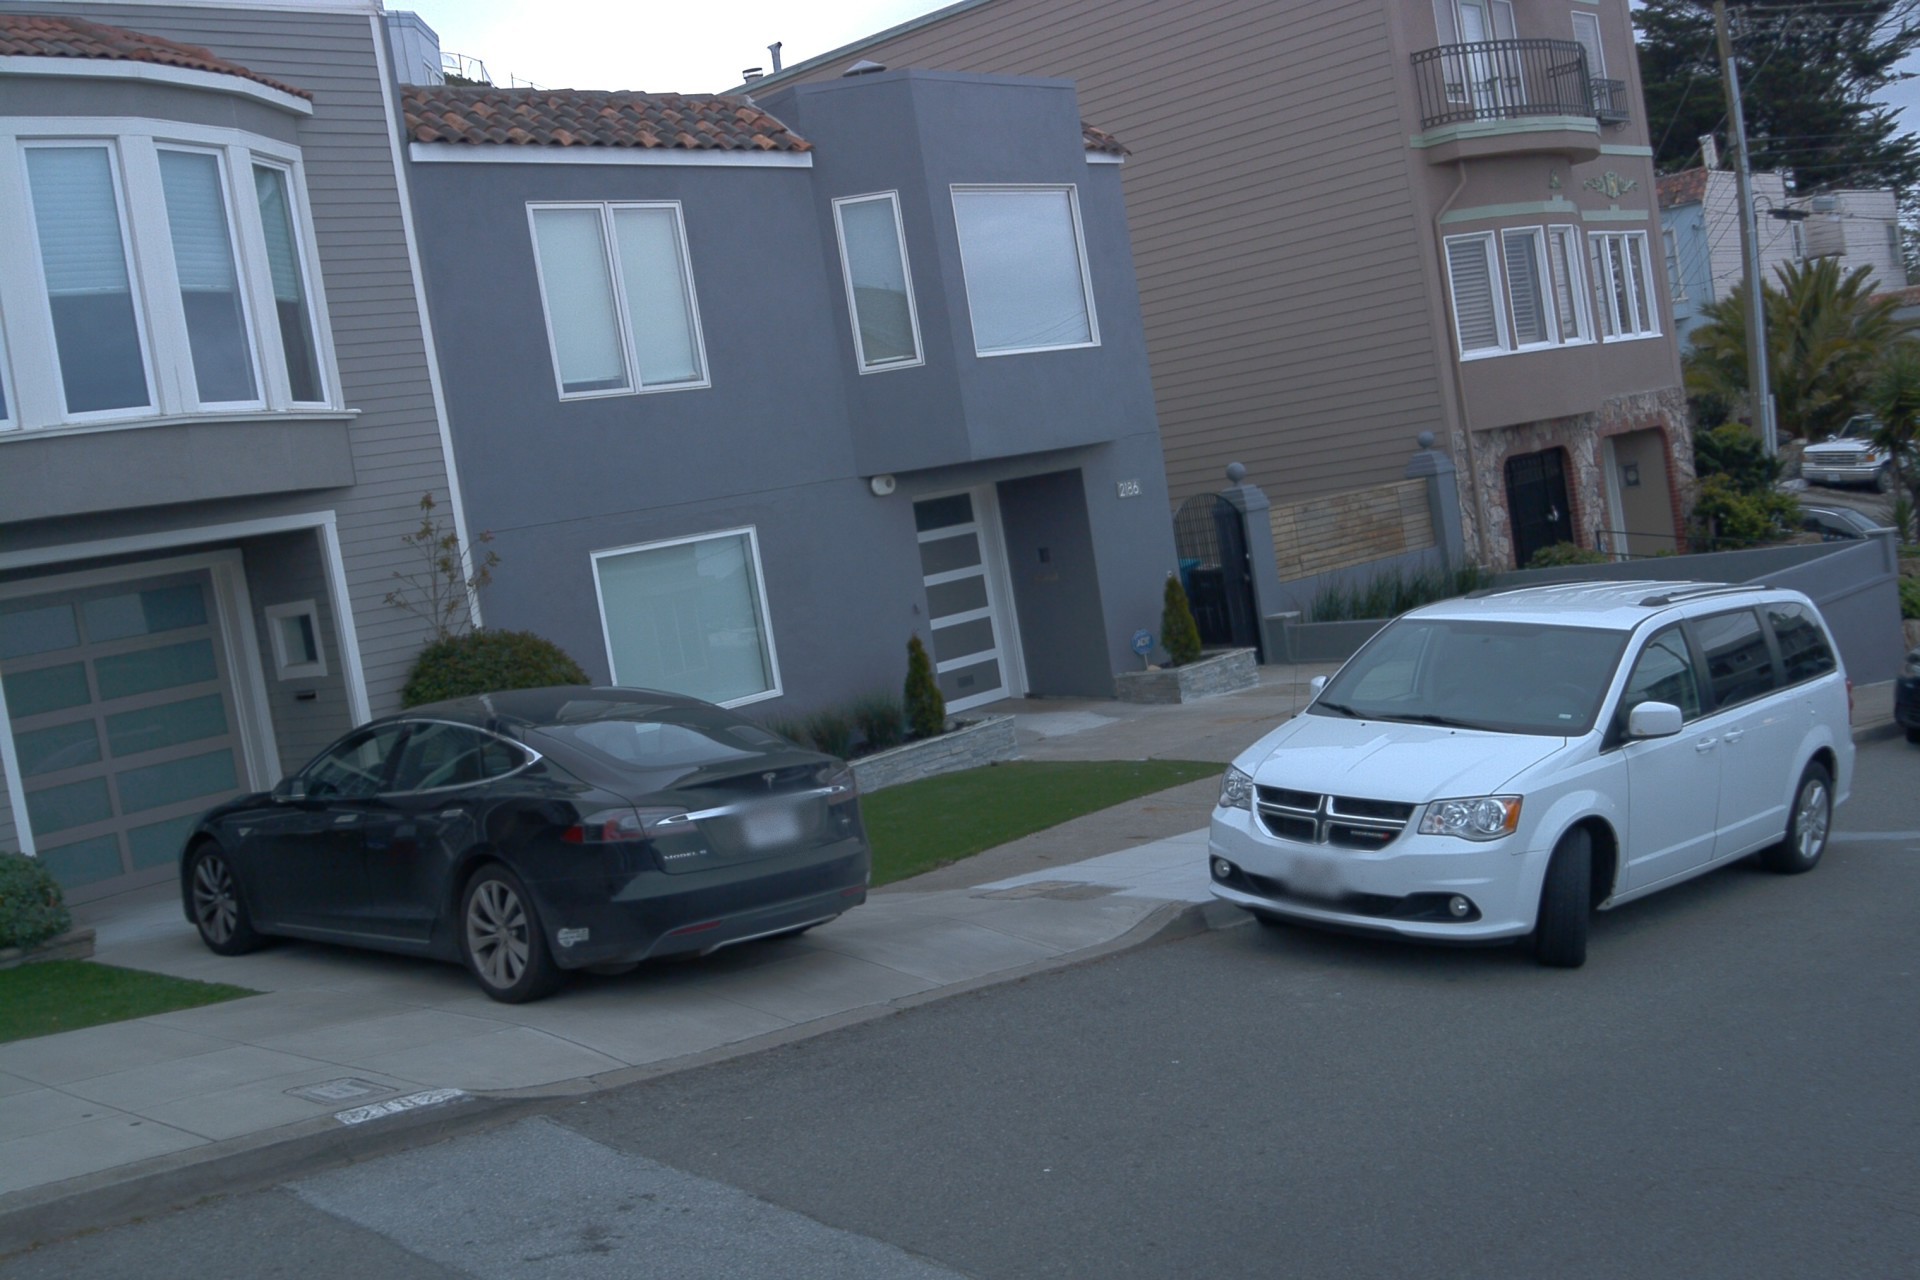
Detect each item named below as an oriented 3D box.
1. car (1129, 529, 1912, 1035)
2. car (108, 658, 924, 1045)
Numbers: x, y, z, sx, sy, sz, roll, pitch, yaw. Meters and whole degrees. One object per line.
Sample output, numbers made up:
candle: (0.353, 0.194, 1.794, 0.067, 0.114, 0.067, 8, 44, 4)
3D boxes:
car: (3.381, 0.600, 11.621, 2.248, 2.232, 4.987, 1, 1, 42)
car: (-2.604, 0.925, 11.161, 4.773, 1.550, 2.026, 1, 1, 44)
